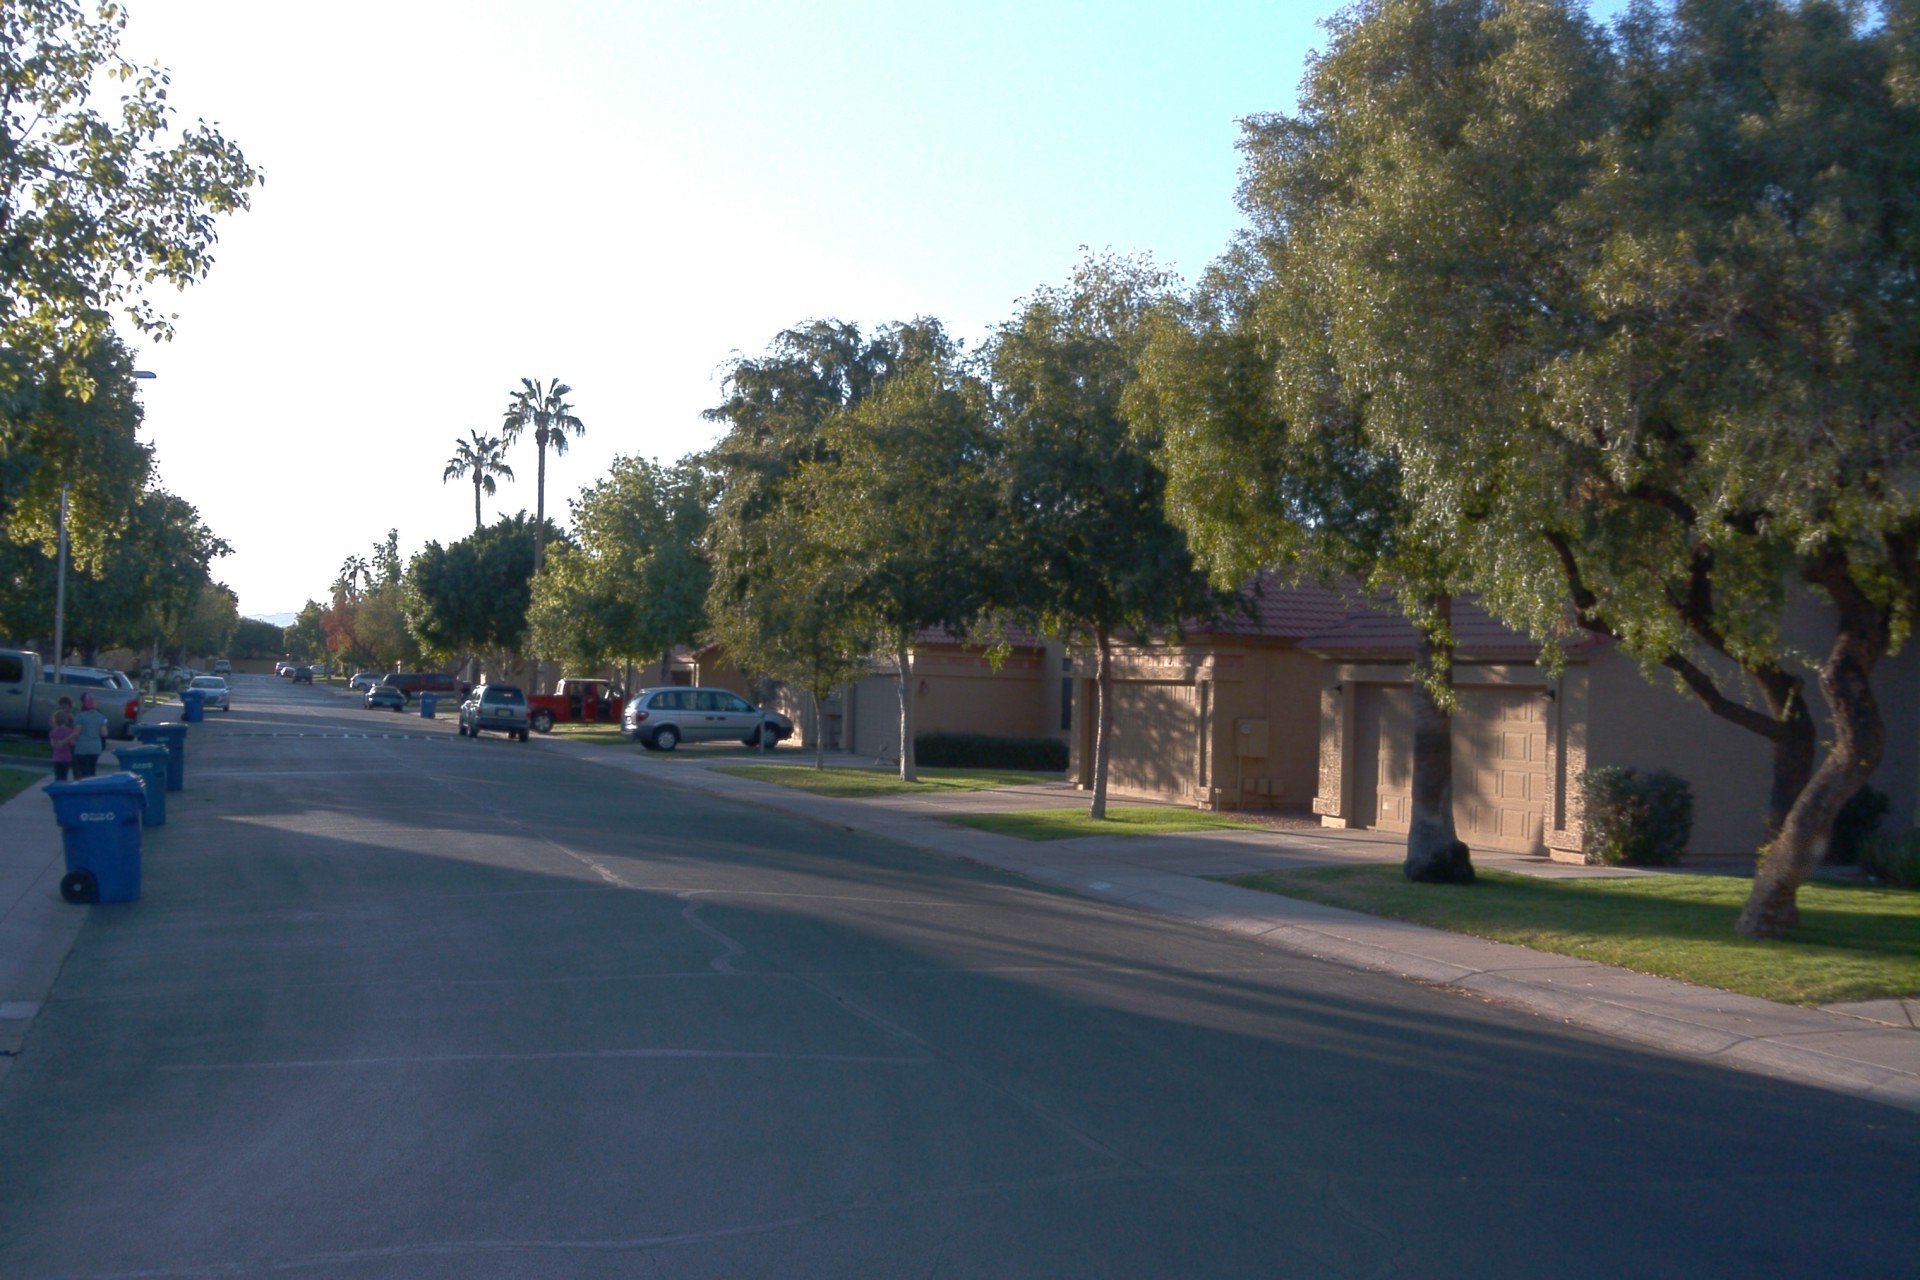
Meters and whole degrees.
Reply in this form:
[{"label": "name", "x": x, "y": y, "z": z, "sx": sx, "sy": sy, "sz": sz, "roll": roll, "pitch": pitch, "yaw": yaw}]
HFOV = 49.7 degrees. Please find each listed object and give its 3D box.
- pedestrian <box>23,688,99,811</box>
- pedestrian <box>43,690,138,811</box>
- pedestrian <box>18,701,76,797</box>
[{"label": "pedestrian", "x": -12.642, "y": 1.528, "z": 29.158, "sx": 0.777, "sy": 1.690, "sz": 0.746, "roll": 0, "pitch": 0, "yaw": -5}, {"label": "pedestrian", "x": -12.010, "y": 1.513, "z": 28.633, "sx": 0.756, "sy": 1.620, "sz": 0.944, "roll": 0, "pitch": 0, "yaw": 19}, {"label": "pedestrian", "x": -12.669, "y": 1.502, "z": 28.758, "sx": 0.665, "sy": 1.280, "sz": 0.688, "roll": 0, "pitch": 0, "yaw": -19}]
